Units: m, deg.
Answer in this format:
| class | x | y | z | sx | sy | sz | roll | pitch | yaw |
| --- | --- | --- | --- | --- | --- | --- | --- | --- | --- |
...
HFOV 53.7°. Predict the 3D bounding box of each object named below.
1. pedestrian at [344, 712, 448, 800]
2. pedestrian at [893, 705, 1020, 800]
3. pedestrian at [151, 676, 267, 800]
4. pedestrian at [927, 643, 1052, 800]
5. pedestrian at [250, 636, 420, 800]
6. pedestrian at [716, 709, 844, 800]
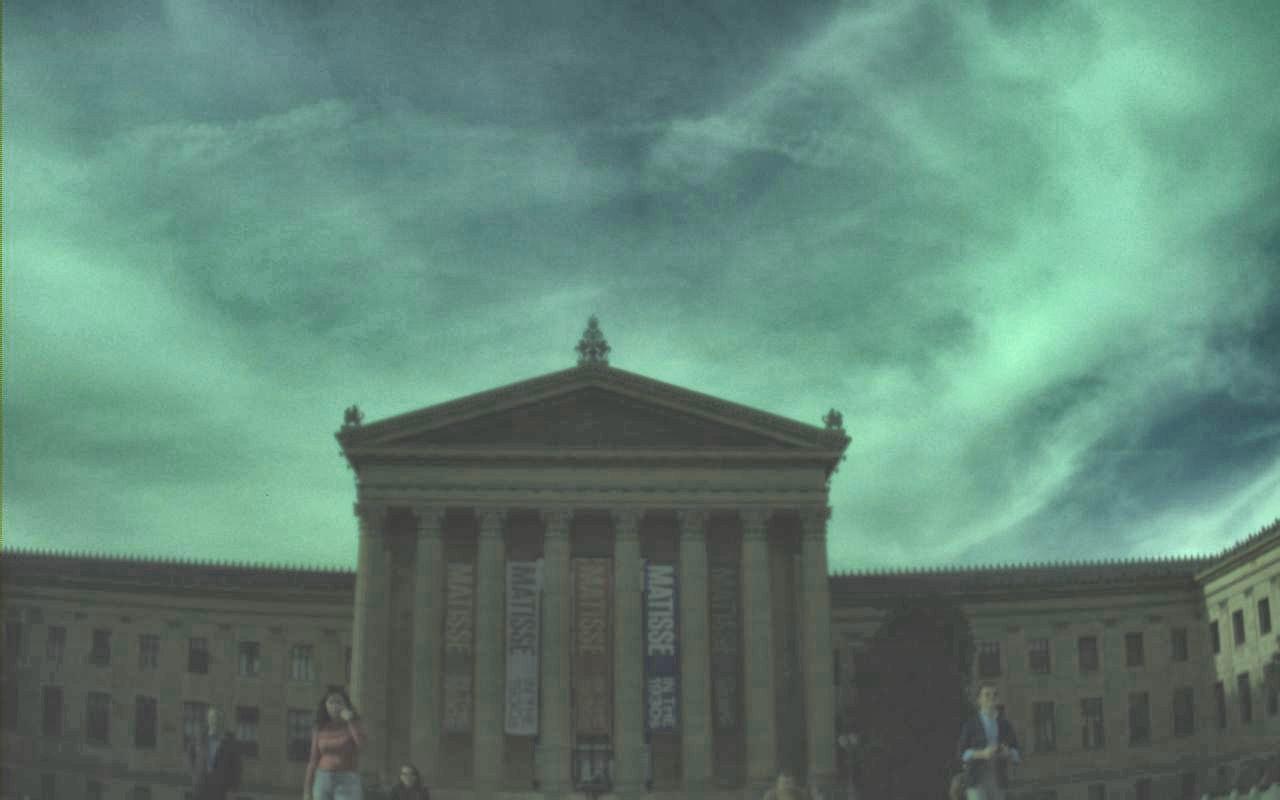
| class | x | y | z | sx | sy | sz | roll | pitch | yaw |
| --- | --- | --- | --- | --- | --- | --- | --- | --- | --- |
| pedestrian | -2.399 | 3.989 | 11.625 | 0.841 | 1.639 | 0.849 | 0 | 0 | -2 |
| pedestrian | 3.163 | 4.038 | 11.741 | 0.837 | 1.721 | 0.836 | 0 | 0 | -27 |
| pedestrian | -4.204 | 3.653 | 11.112 | 0.816 | 1.709 | 0.796 | 0 | 0 | 0 |
| pedestrian | 2.976 | 3.049 | 10.093 | 0.811 | 1.778 | 0.803 | 0 | 0 | 2 |
| pedestrian | -2.149 | 2.614 | 8.324 | 0.826 | 1.703 | 0.838 | 1 | 0 | 17 |
| pedestrian | 1.362 | 3.972 | 11.686 | 0.847 | 1.671 | 0.870 | 1 | 0 | 41 |
